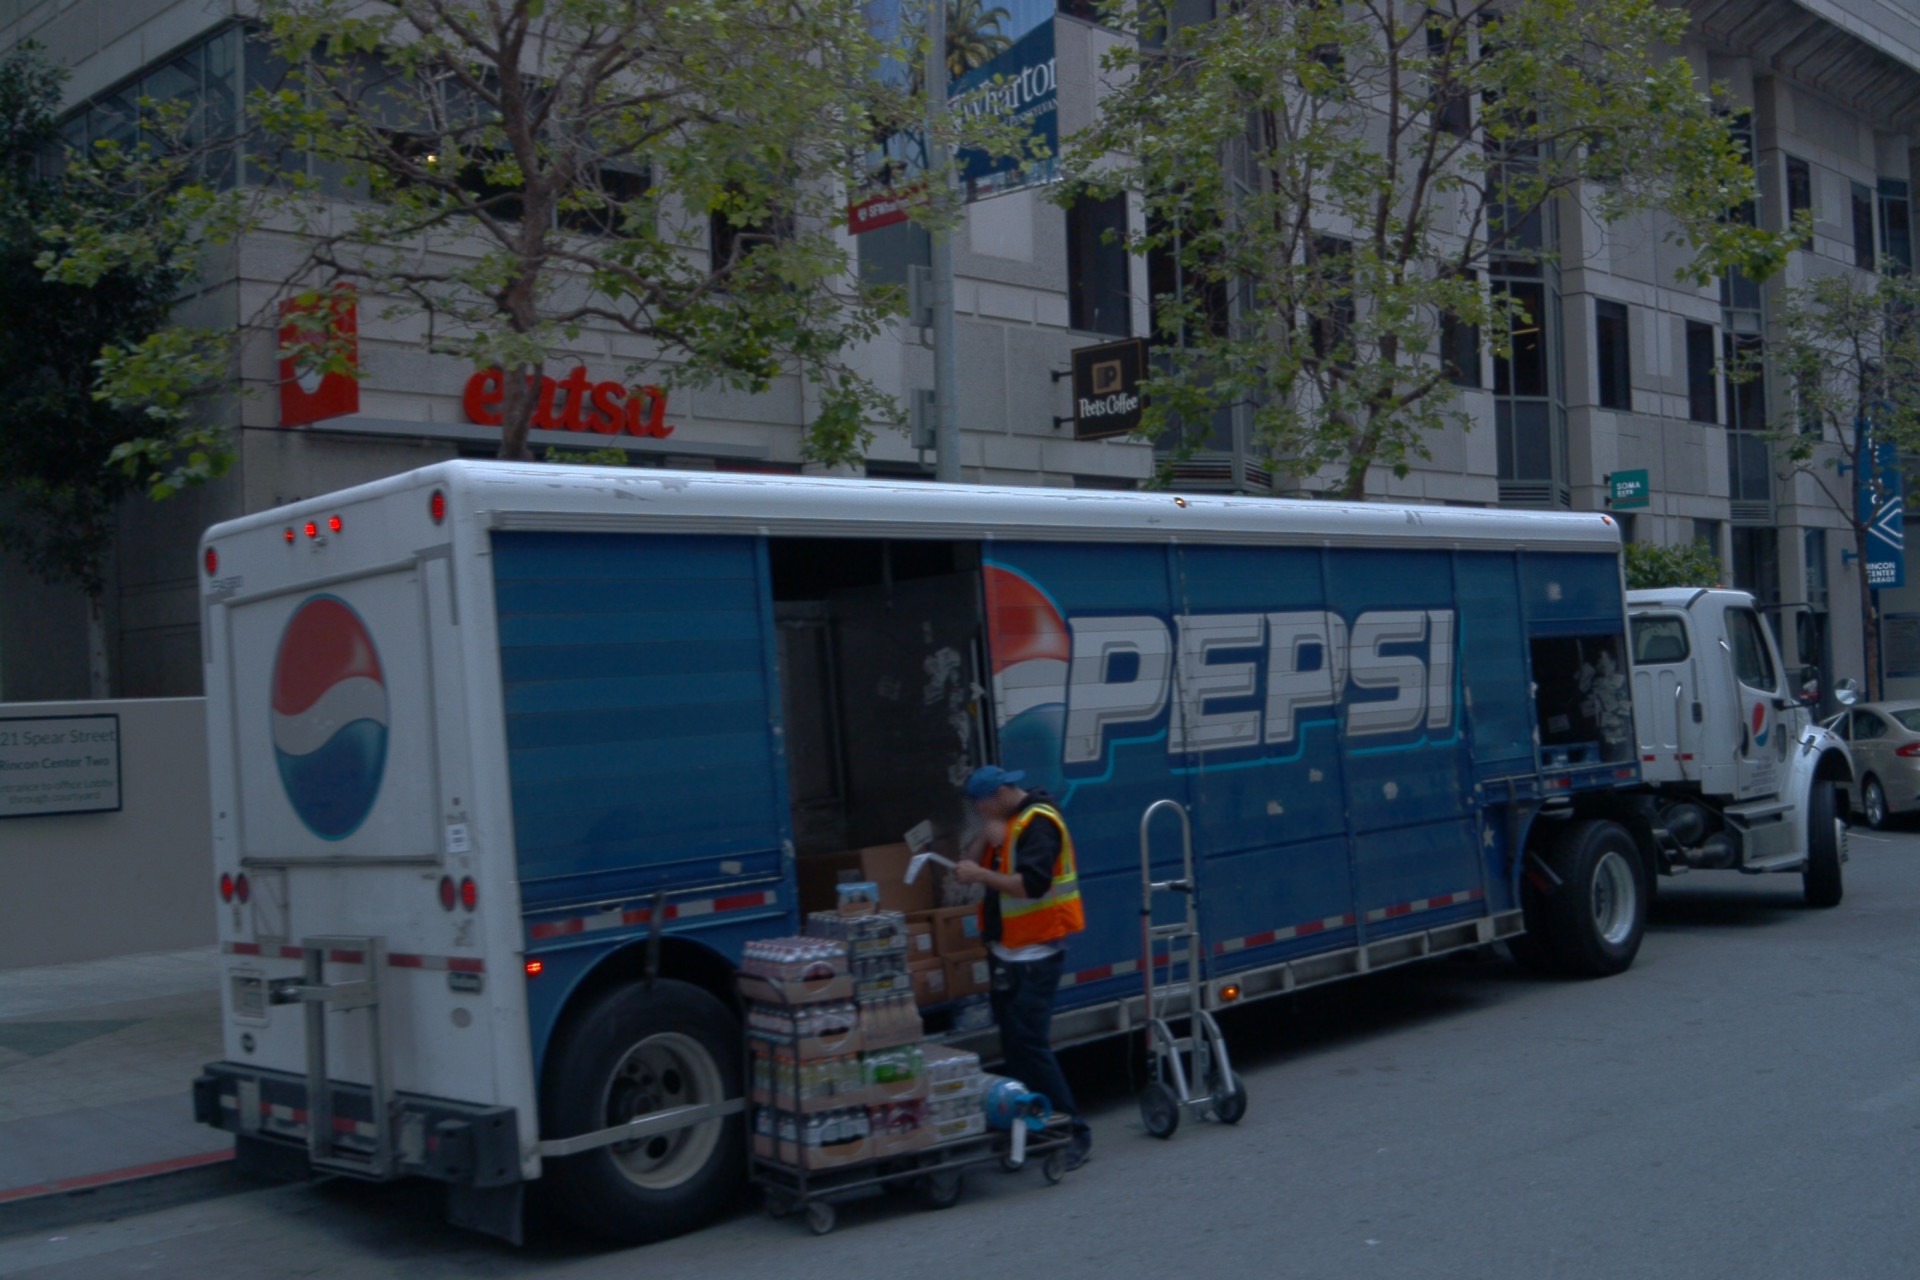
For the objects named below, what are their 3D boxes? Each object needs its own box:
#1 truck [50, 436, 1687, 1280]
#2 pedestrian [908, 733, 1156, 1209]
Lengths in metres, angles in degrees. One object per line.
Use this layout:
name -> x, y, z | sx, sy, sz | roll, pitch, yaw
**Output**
truck -> 0.489, 0.820, 11.362 | 2.737, 3.140, 9.716 | 1, 1, 45
pedestrian -> 0.290, 1.368, 8.941 | 0.834, 1.860, 0.984 | 0, 1, -14
